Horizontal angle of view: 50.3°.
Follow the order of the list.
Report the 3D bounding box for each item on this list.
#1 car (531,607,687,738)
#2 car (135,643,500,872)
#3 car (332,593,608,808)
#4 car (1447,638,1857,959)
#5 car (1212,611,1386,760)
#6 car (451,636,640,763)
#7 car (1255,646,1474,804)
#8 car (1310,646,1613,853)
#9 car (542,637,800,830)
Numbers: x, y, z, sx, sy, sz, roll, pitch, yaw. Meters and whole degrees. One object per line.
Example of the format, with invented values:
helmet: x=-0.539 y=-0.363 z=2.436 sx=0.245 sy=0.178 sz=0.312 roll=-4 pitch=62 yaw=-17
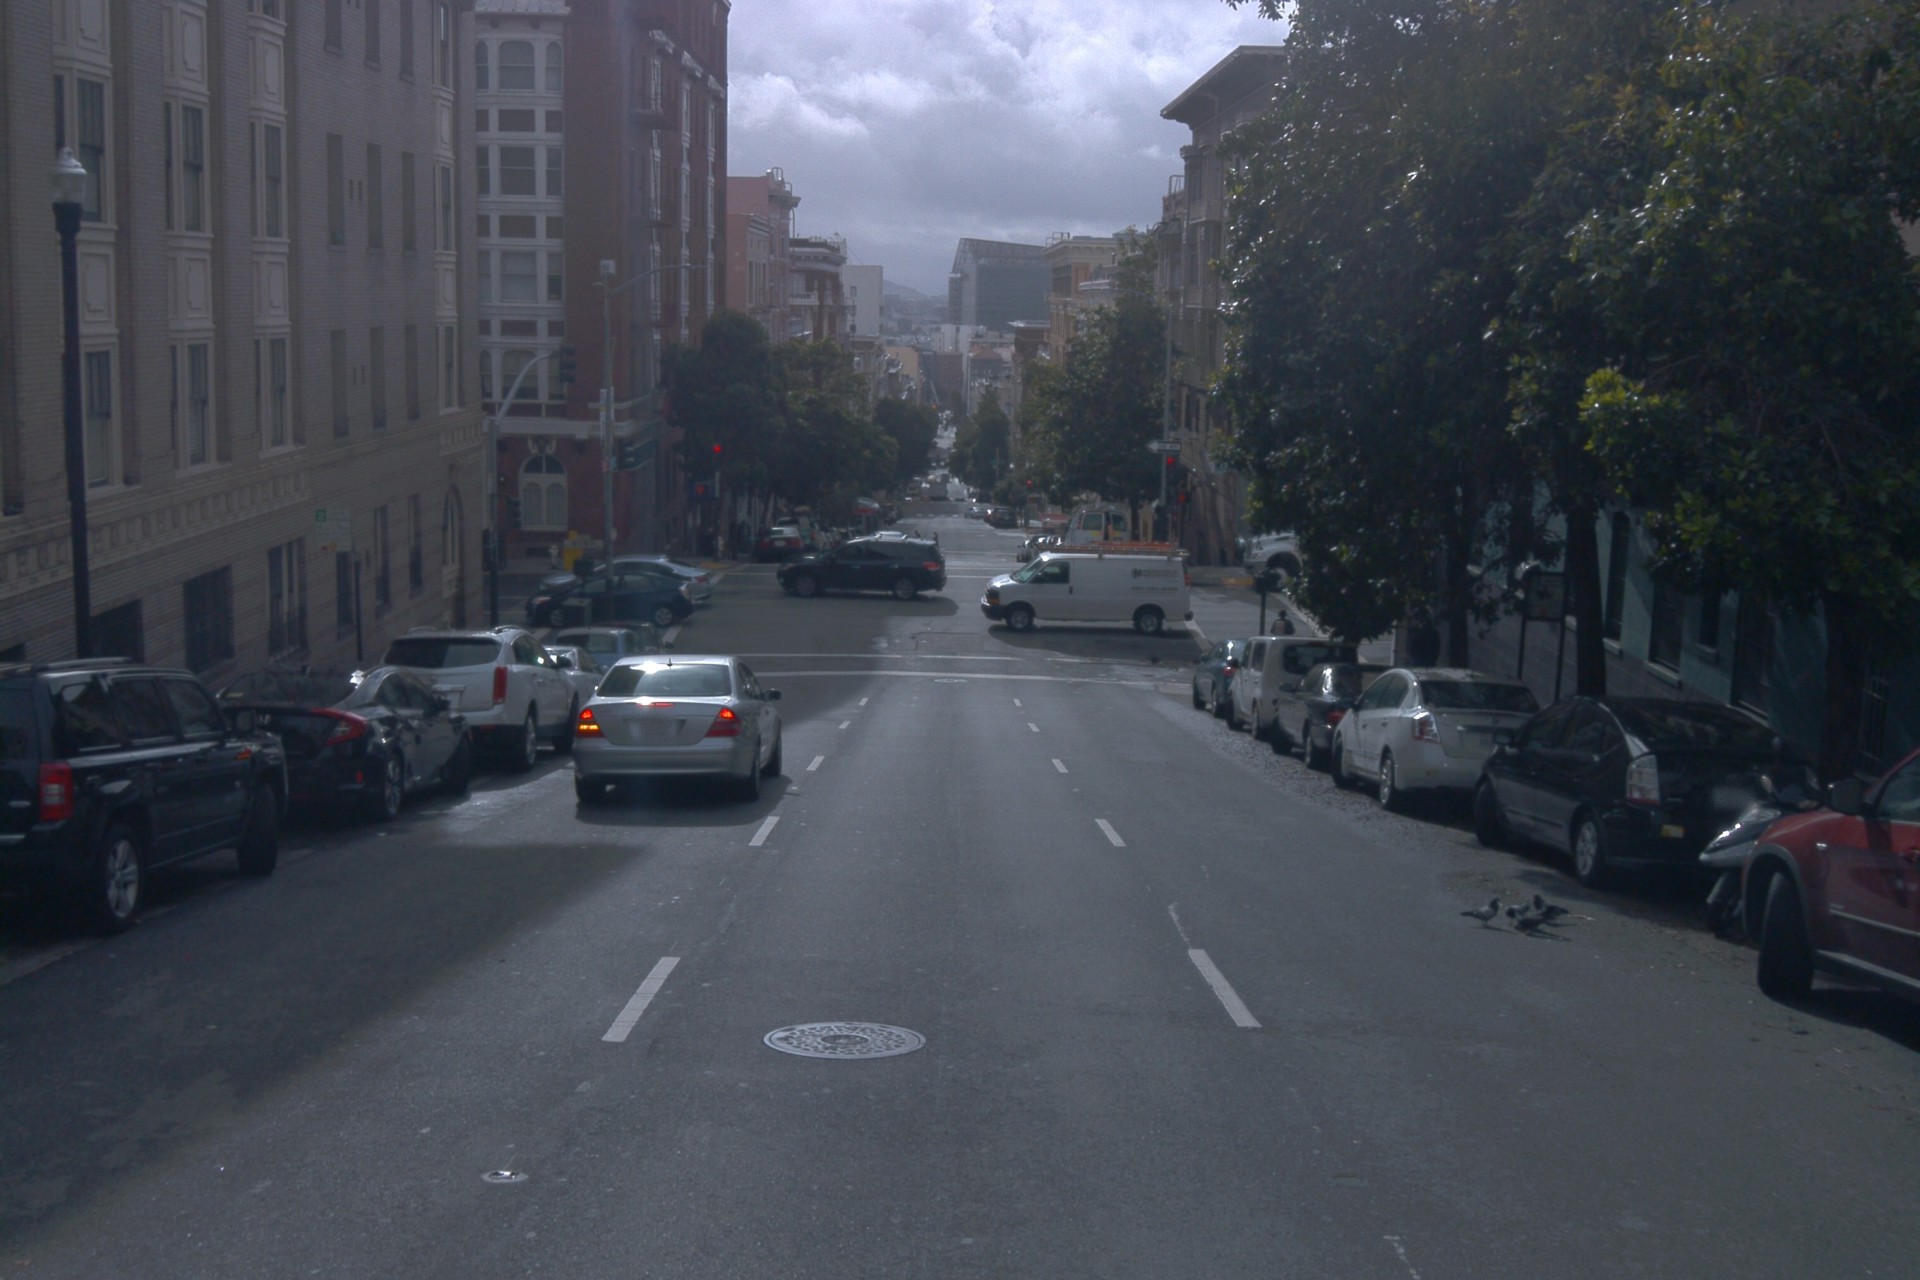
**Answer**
car: x=-5.915 y=0.502 z=34.829 sx=1.859 sy=2.070 sz=3.589 roll=1 pitch=1 yaw=2
car: x=-5.939 y=0.999 z=19.554 sx=2.144 sy=1.820 sz=4.609 roll=1 pitch=1 yaw=-2
car: x=-5.835 y=0.637 z=25.013 sx=2.235 sy=2.330 sz=4.782 roll=1 pitch=1 yaw=-1
car: x=5.512 y=1.146 z=16.902 sx=1.855 sy=2.234 sz=4.209 roll=1 pitch=1 yaw=-1
car: x=5.406 y=0.661 z=33.062 sx=2.029 sy=2.230 sz=3.892 roll=1 pitch=1 yaw=-1
car: x=-6.107 y=0.826 z=30.600 sx=1.958 sy=1.670 sz=4.250 roll=1 pitch=1 yaw=0
car: x=5.334 y=1.057 z=27.579 sx=2.033 sy=1.822 sz=4.632 roll=1 pitch=1 yaw=0
car: x=5.355 y=1.090 z=22.503 sx=2.136 sy=1.940 sz=4.452 roll=1 pitch=1 yaw=-1
car: x=-2.875 y=0.868 z=21.411 sx=2.074 sy=1.700 sz=4.689 roll=1 pitch=1 yaw=-1
